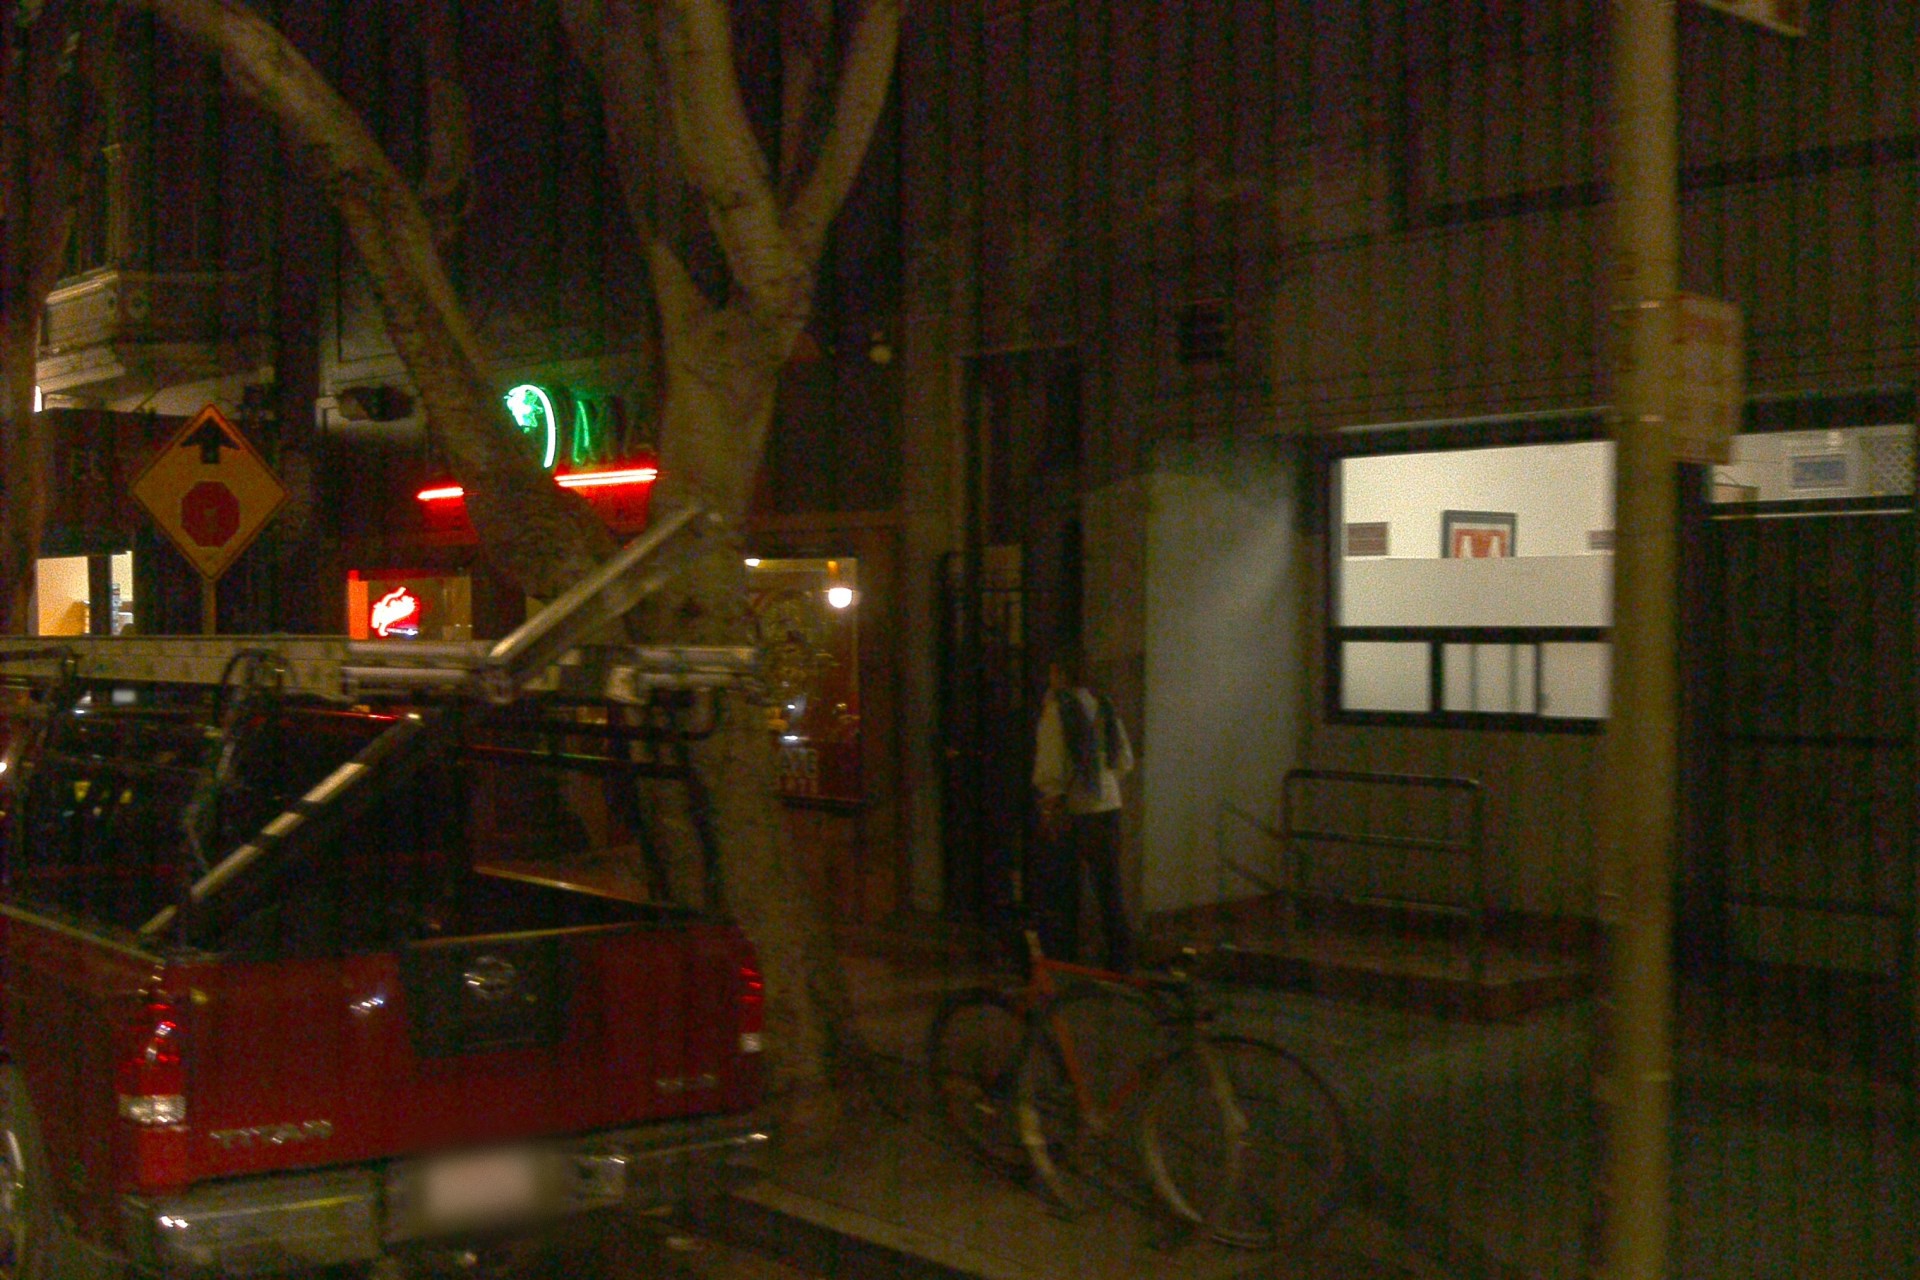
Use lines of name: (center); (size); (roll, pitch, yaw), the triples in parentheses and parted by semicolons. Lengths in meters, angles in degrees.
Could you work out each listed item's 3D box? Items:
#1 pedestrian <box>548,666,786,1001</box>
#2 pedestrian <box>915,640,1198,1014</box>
pedestrian: (-1.556, 0.972, 10.952); (1.059, 1.660, 0.749); (0, 0, 44)
pedestrian: (0.470, 0.864, 10.217); (1.085, 1.720, 0.873); (0, 0, 44)
